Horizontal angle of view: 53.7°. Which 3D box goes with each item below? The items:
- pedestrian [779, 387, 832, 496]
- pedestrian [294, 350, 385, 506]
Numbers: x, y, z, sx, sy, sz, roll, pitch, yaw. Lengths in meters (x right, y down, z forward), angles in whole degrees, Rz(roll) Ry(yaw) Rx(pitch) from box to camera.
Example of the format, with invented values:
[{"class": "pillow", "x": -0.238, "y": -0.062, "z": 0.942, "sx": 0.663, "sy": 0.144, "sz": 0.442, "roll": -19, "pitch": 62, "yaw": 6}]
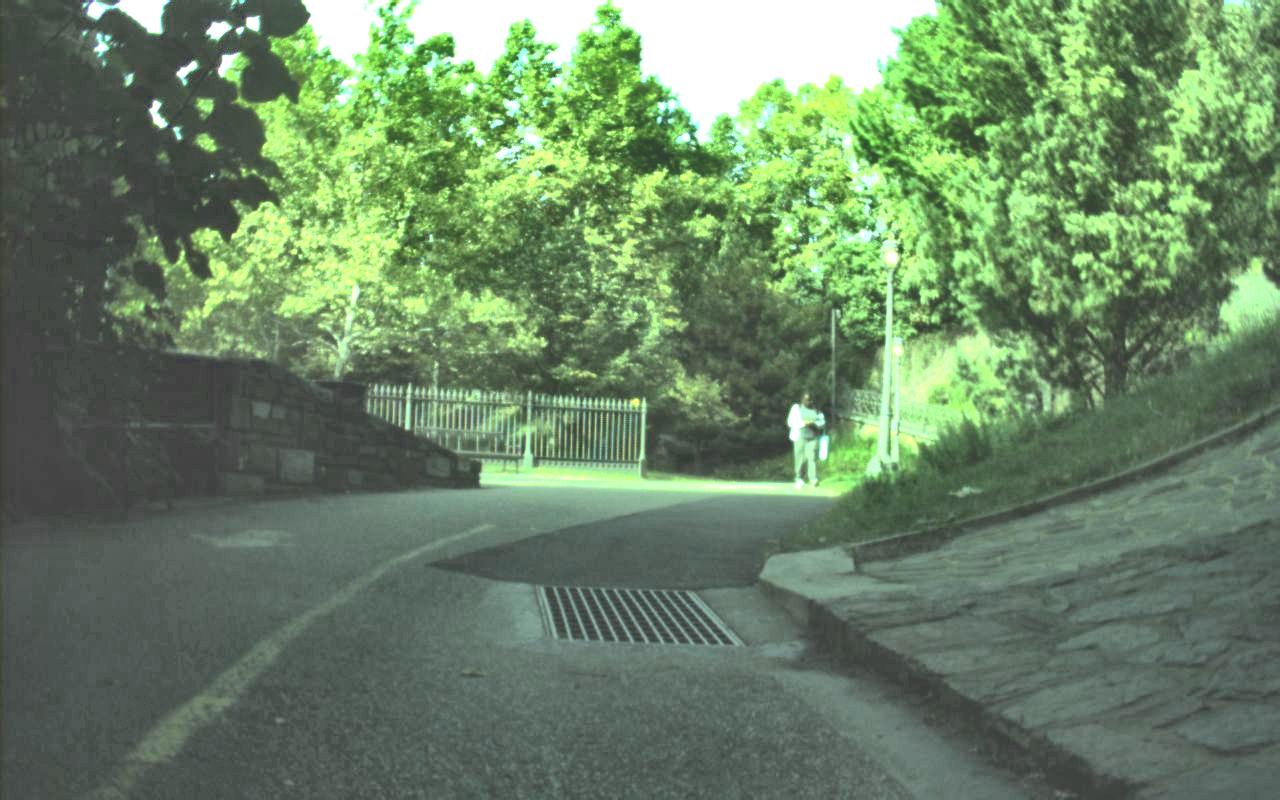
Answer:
[{"class": "pedestrian", "x": 2.806, "y": 0.687, "z": 21.222, "sx": 0.832, "sy": 1.804, "sz": 0.848, "roll": 0, "pitch": 0, "yaw": 10}, {"class": "pedestrian", "x": -3.287, "y": 0.291, "z": 13.455, "sx": 0.742, "sy": 1.642, "sz": 0.768, "roll": 0, "pitch": 0, "yaw": 15}]
